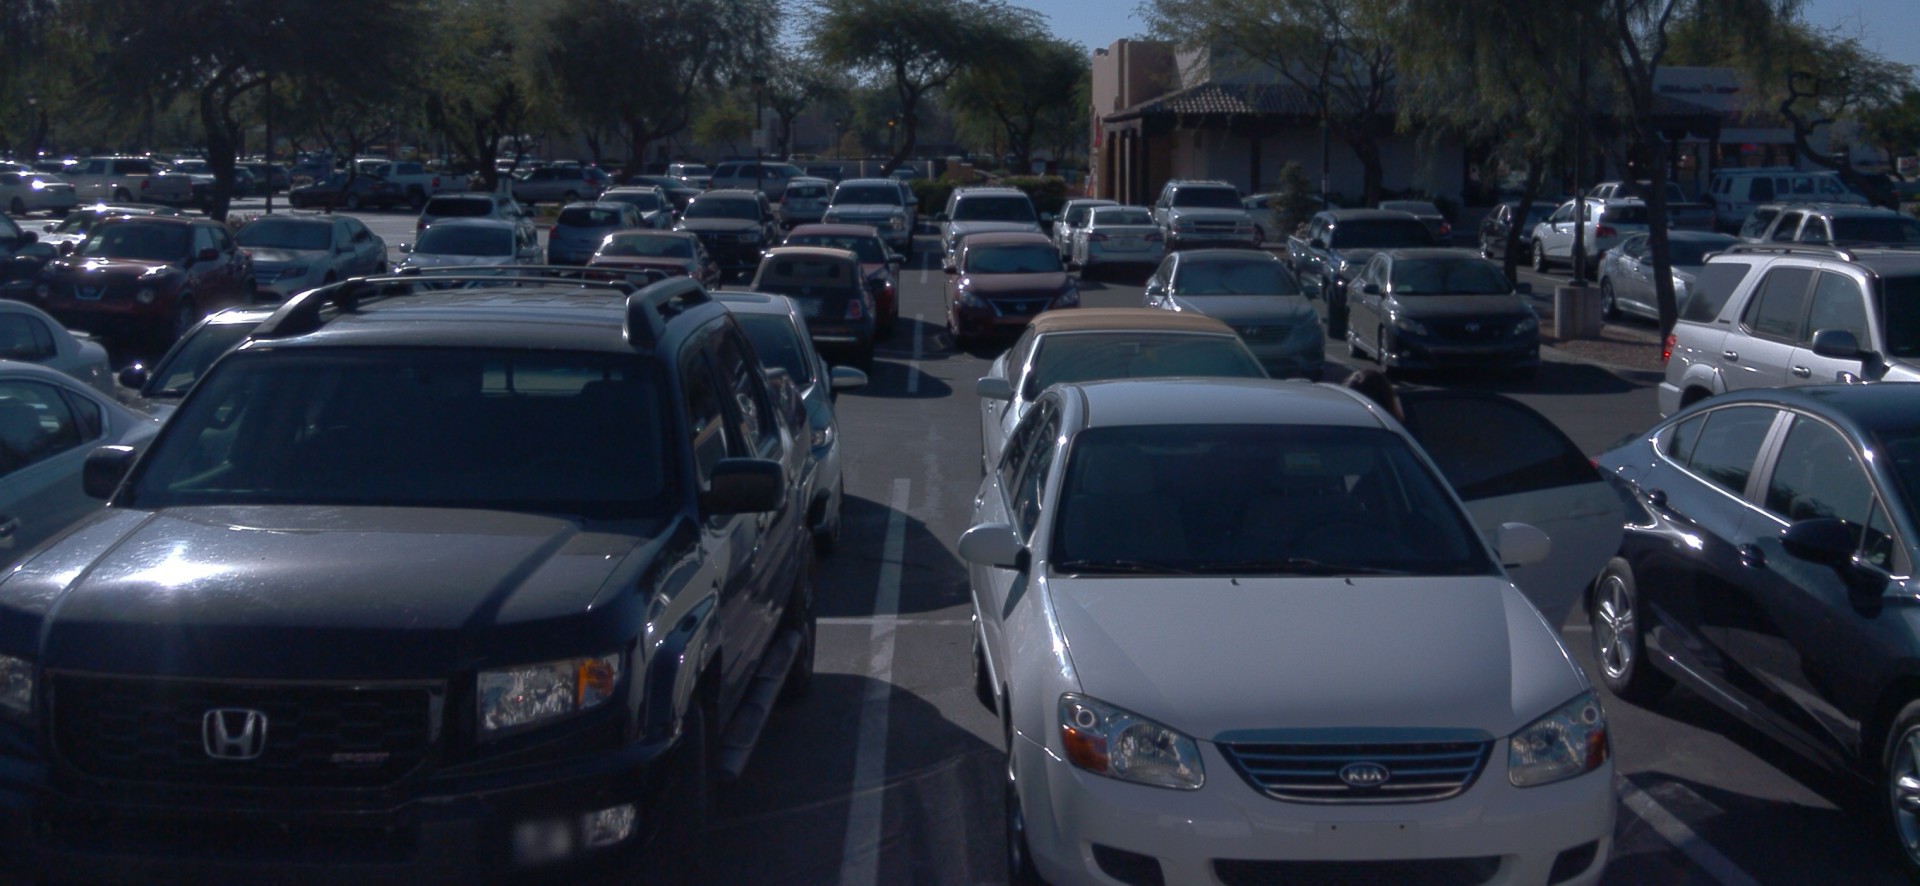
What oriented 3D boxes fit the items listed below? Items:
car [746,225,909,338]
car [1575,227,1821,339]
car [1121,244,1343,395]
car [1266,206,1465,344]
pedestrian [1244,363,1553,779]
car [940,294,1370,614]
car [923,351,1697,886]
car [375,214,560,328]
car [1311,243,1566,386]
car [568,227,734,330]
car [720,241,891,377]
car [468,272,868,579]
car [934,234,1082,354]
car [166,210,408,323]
[{"bbox_3d":[-1.933,-2.530,31.689,2.086,1.562,4.912,1,6,1],"label":"car"},{"bbox_3d":[11.127,-2.503,31.653,2.128,1.553,4.506,1,6,-1],"label":"car"},{"bbox_3d":[3.231,-1.613,25.656,2.180,1.602,4.850,1,6,1],"label":"car"},{"bbox_3d":[6.063,-2.635,31.689,2.086,1.901,5.341,1,5,1],"label":"car"},{"bbox_3d":[1.805,0.460,8.497,0.938,1.488,0.935,2,3,34],"label":"pedestrian"},{"bbox_3d":[1.000,-0.109,13.186,2.145,1.483,4.757,0,6,-2],"label":"car"},{"bbox_3d":[0.904,0.549,7.680,2.017,1.473,4.510,1,6,-1],"label":"car"},{"bbox_3d":[-7.369,-2.667,31.468,2.012,1.583,4.469,0,6,-4],"label":"car"},{"bbox_3d":[5.796,-1.674,25.734,2.083,1.543,4.564,1,6,-1],"label":"car"},{"bbox_3d":[-4.663,-2.580,31.893,1.906,1.433,4.261,1,6,0],"label":"car"},{"bbox_3d":[-1.879,-1.760,26.271,1.730,1.533,3.844,1,5,2],"label":"car"},{"bbox_3d":[-1.718,-0.265,13.640,2.093,1.593,4.136,1,5,-1],"label":"car"},{"bbox_3d":[0.691,-2.262,30.643,2.010,1.593,4.473,1,5,1],"label":"car"},{"bbox_3d":[-10.043,-2.718,31.379,2.117,1.543,4.608,1,6,0],"label":"car"}]
